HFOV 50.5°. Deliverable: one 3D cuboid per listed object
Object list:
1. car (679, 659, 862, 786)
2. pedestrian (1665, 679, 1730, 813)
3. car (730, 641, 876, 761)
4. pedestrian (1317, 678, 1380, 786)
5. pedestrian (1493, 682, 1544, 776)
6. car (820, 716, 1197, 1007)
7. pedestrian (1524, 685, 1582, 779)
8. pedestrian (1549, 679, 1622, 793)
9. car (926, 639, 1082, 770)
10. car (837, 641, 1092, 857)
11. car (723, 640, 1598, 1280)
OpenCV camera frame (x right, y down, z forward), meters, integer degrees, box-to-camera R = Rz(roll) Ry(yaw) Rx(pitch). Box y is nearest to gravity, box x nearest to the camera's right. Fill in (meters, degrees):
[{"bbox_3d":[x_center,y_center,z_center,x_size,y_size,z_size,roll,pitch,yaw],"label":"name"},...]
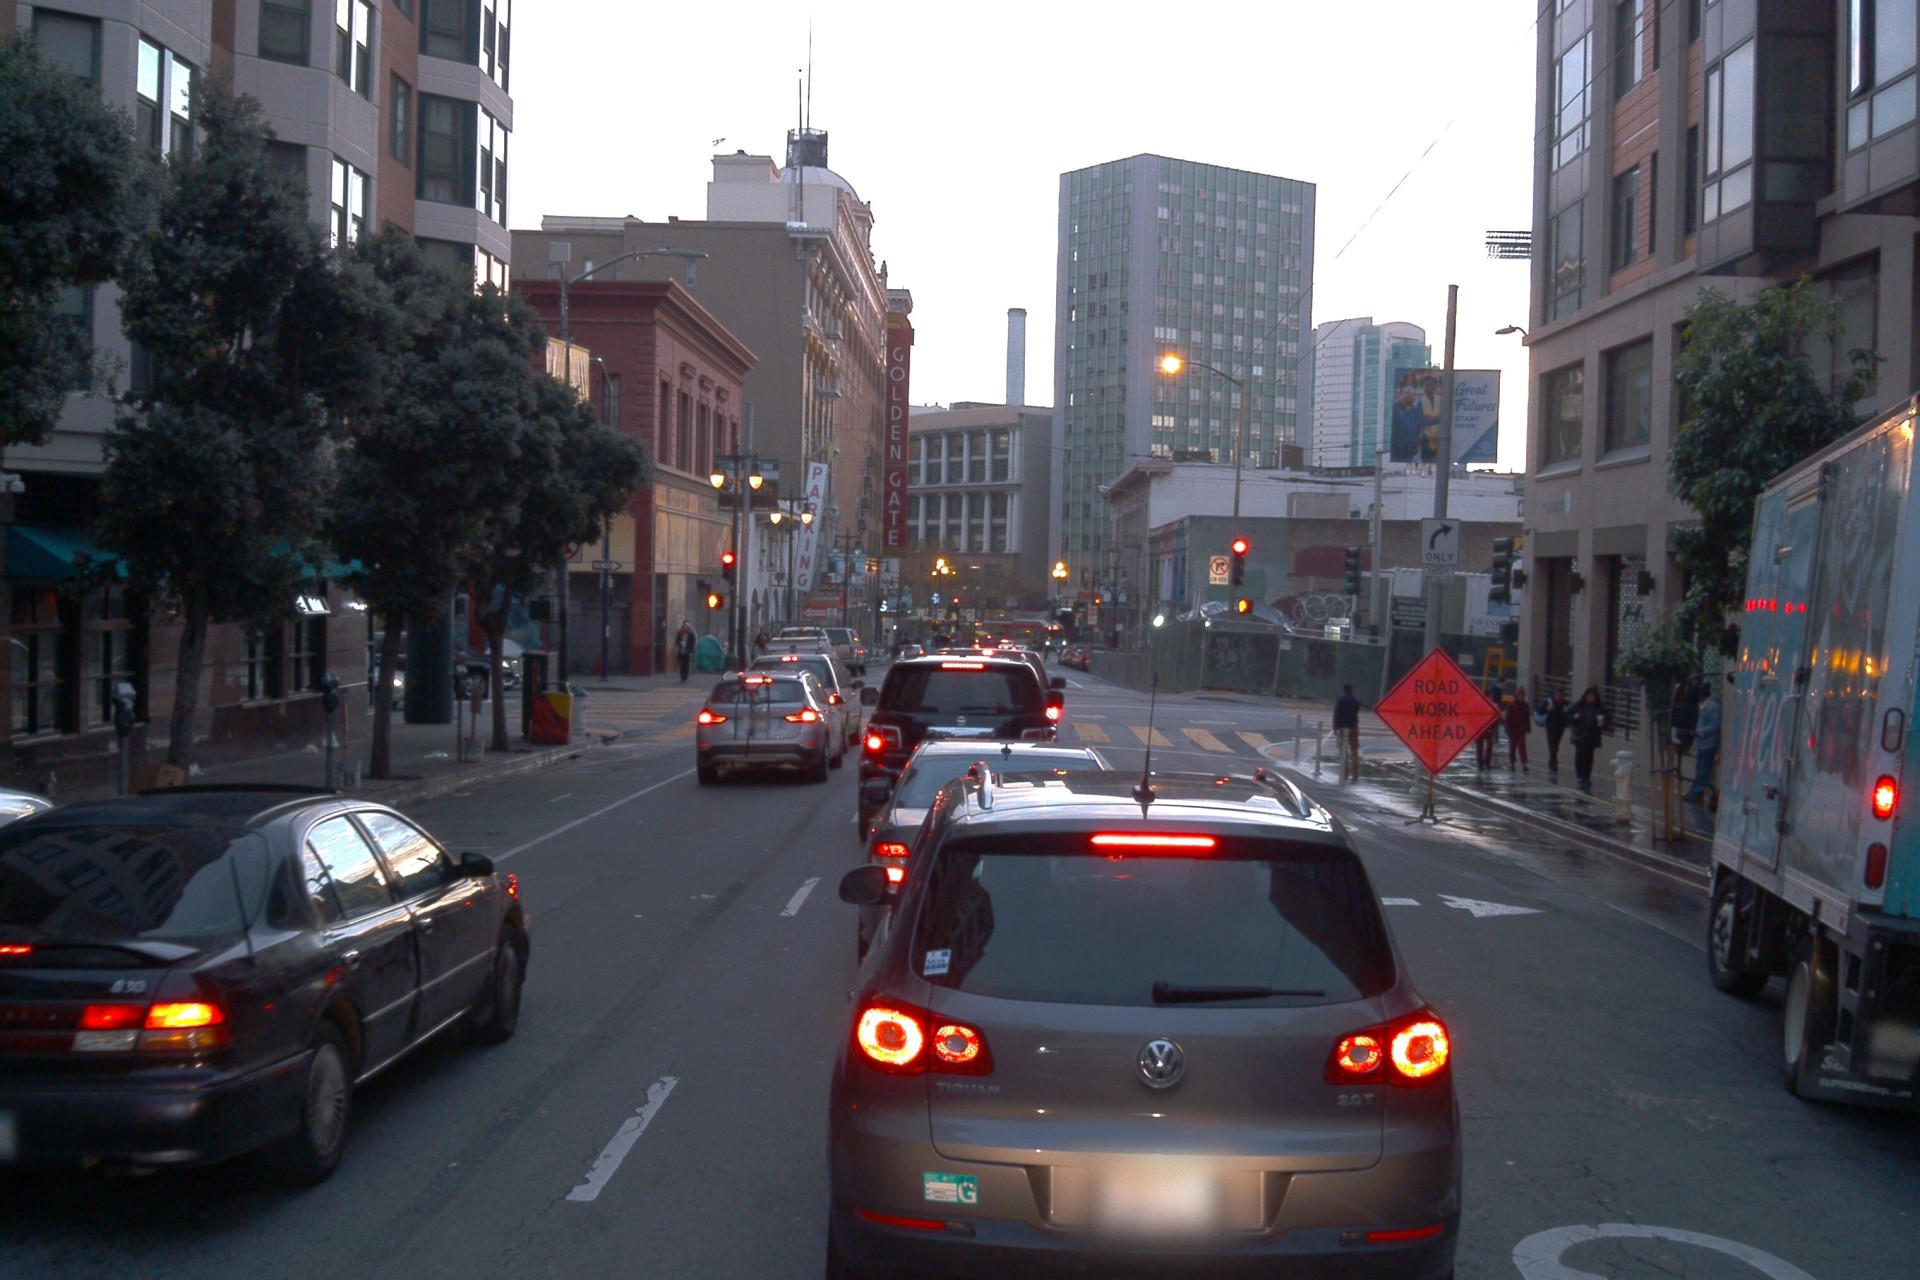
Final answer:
[{"bbox_3d":[-2.616,1.110,29.106,2.110,1.572,4.118,1,1,1],"label":"car"},{"bbox_3d":[10.759,1.535,29.716,0.659,1.890,0.755,1,1,4],"label":"pedestrian"},{"bbox_3d":[-2.661,0.997,35.546,1.896,1.880,4.462,1,1,4],"label":"car"},{"bbox_3d":[6.684,1.577,35.069,0.777,1.790,0.924,1,1,-6],"label":"pedestrian"},{"bbox_3d":[9.869,1.574,35.999,0.622,1.610,0.759,1,1,-2],"label":"pedestrian"},{"bbox_3d":[0.290,1.324,13.592,2.089,1.400,4.279,1,1,1],"label":"car"},{"bbox_3d":[10.543,1.622,36.197,0.721,1.610,0.846,1,1,-2],"label":"pedestrian"},{"bbox_3d":[10.067,1.531,32.780,0.879,1.760,0.905,1,1,3],"label":"pedestrian"},{"bbox_3d":[0.619,0.856,29.391,2.036,1.650,4.678,1,1,1],"label":"car"},{"bbox_3d":[0.034,1.029,21.904,2.368,1.940,5.339,1,1,0],"label":"car"},{"bbox_3d":[0.546,1.061,7.023,2.109,2.050,3.981,1,1,2],"label":"car"}]
